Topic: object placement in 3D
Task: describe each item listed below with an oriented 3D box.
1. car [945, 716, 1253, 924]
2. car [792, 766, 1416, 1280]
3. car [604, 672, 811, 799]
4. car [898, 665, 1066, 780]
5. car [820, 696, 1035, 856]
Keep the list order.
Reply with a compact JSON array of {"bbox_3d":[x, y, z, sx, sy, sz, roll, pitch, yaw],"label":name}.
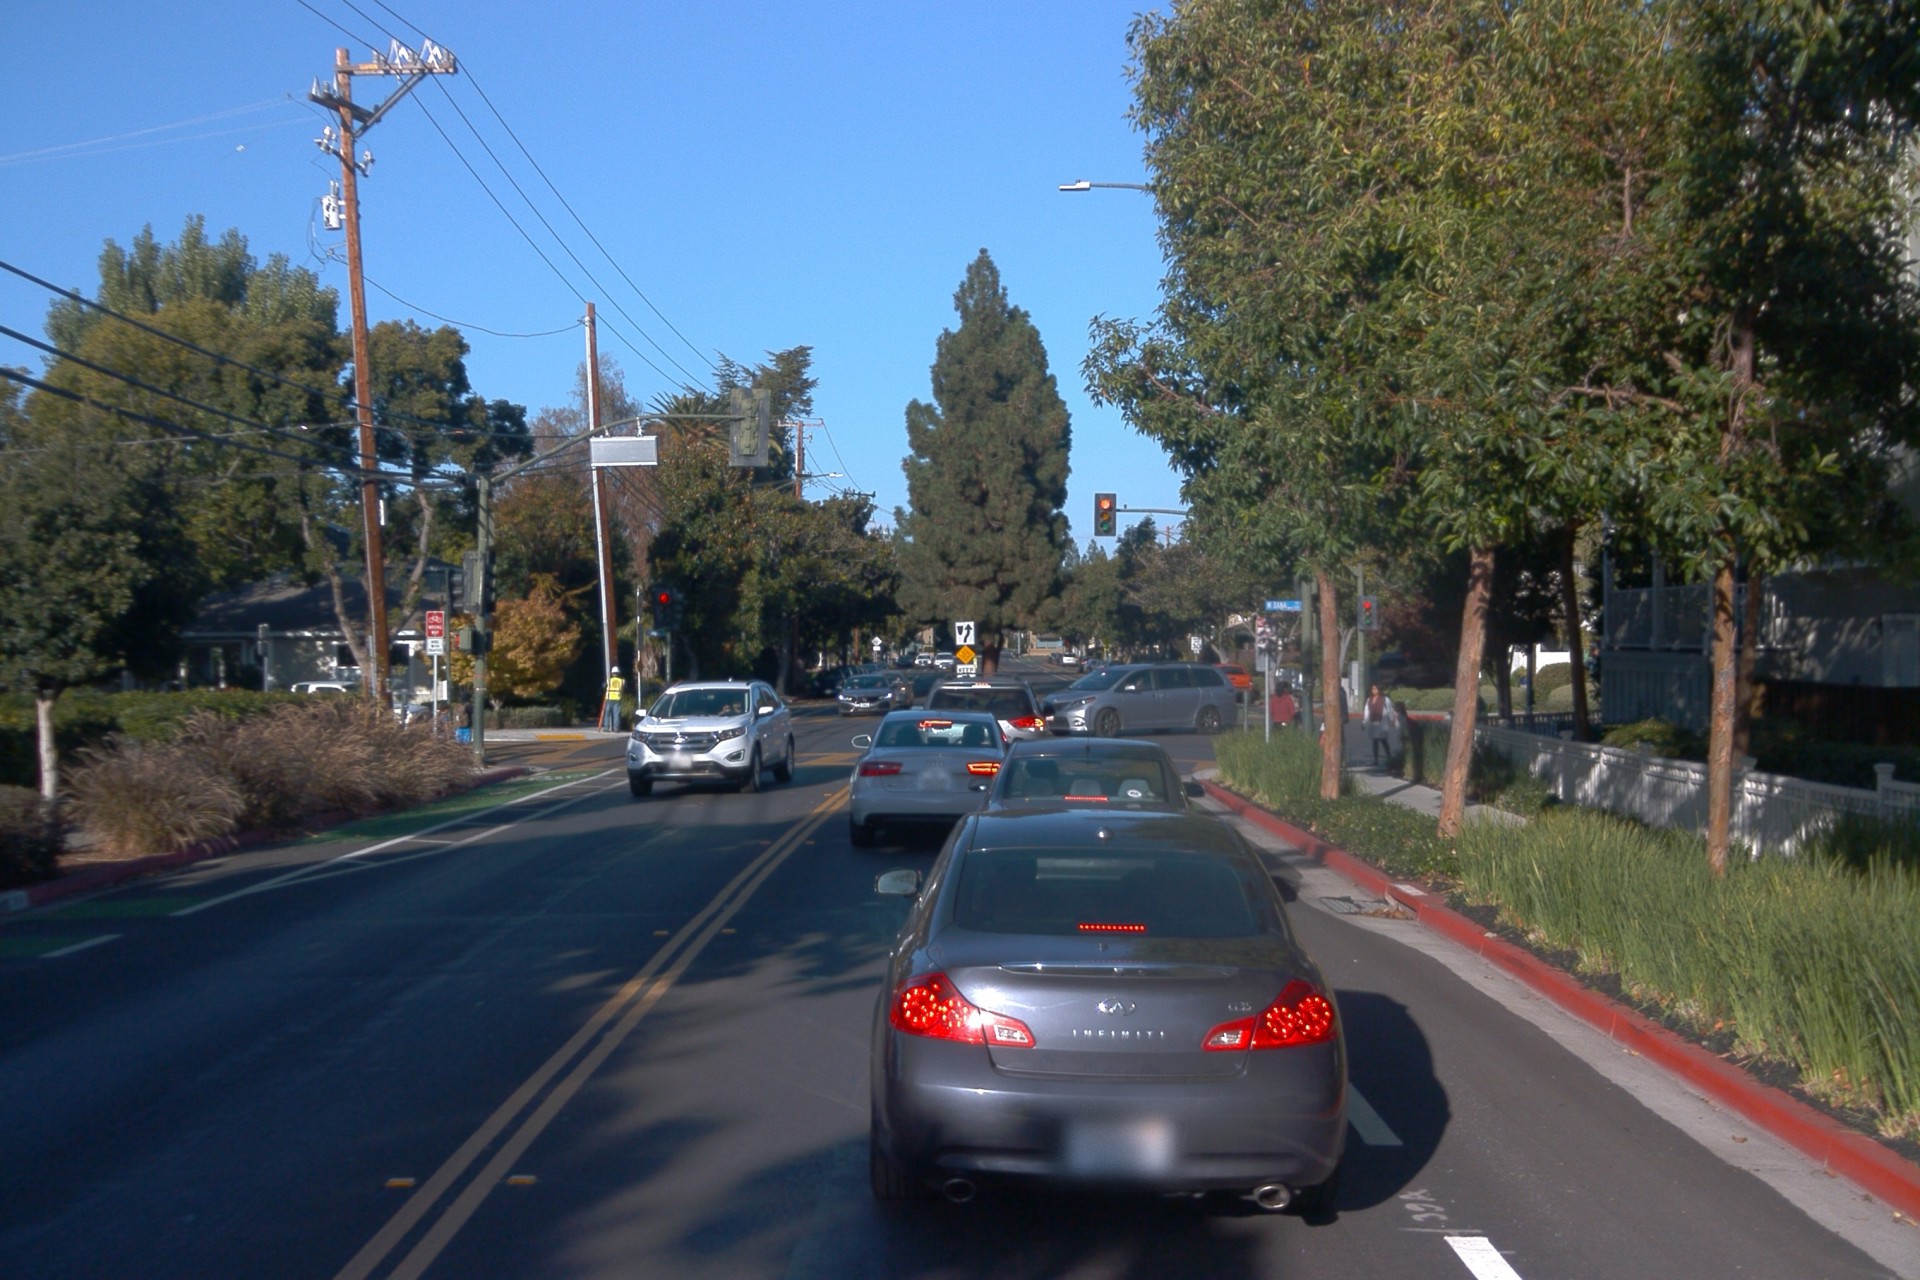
[{"bbox_3d":[0.993,1.273,15.845,2.028,1.210,4.035,1,0,2],"label":"car"},{"bbox_3d":[0.567,1.428,9.064,2.033,1.460,4.435,1,0,3],"label":"car"},{"bbox_3d":[-3.853,1.425,32.633,2.214,1.740,4.804,1,0,6],"label":"car"},{"bbox_3d":[0.357,1.179,31.289,2.317,1.510,4.744,1,0,1],"label":"car"},{"bbox_3d":[-0.260,1.450,23.532,2.122,1.500,4.397,1,0,3],"label":"car"}]
